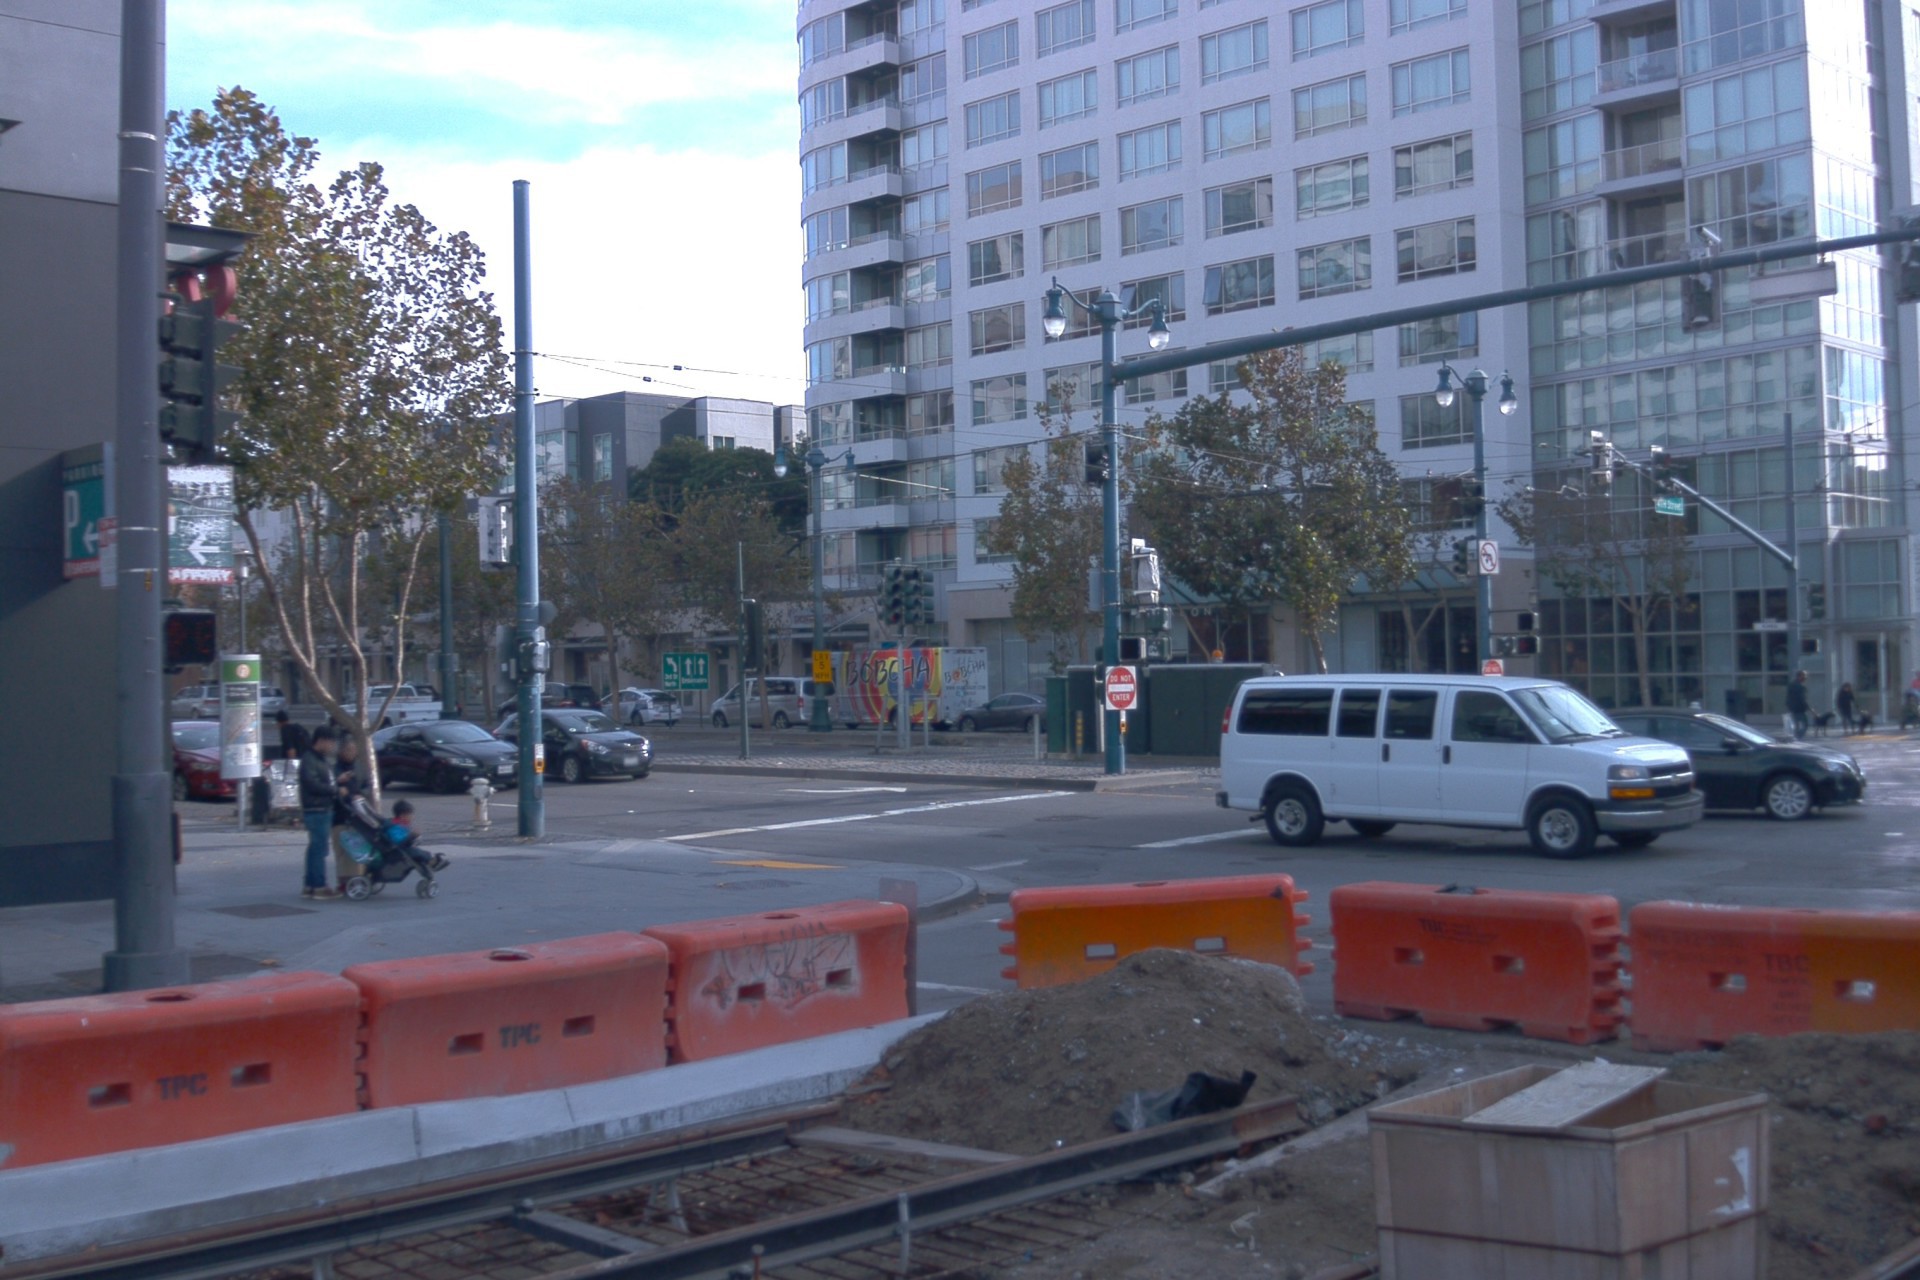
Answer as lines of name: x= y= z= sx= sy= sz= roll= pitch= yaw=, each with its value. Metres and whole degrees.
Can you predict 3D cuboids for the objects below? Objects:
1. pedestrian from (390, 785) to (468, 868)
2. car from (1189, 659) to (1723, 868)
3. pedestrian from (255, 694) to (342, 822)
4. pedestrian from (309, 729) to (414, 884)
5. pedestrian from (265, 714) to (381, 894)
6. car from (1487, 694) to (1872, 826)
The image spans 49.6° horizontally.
pedestrian: x=-5.159 y=1.803 z=20.169 sx=0.723 sy=0.752 sz=0.485 roll=0 pitch=-1 yaw=-15
car: x=5.870 y=1.348 z=25.146 sx=5.769 sy=2.200 sz=2.561 roll=0 pitch=-1 yaw=43
pedestrian: x=-9.748 y=1.716 z=30.606 sx=0.982 sy=1.830 sz=0.942 roll=1 pitch=-1 yaw=-34
pedestrian: x=-5.893 y=1.623 z=20.474 sx=0.723 sy=1.460 sz=0.660 roll=0 pitch=-1 yaw=29
pedestrian: x=-6.144 y=1.557 z=20.034 sx=0.748 sy=1.660 sz=0.767 roll=0 pitch=-1 yaw=38
car: x=9.616 y=1.545 z=27.836 sx=4.611 sy=1.554 sz=1.978 roll=0 pitch=-1 yaw=29
